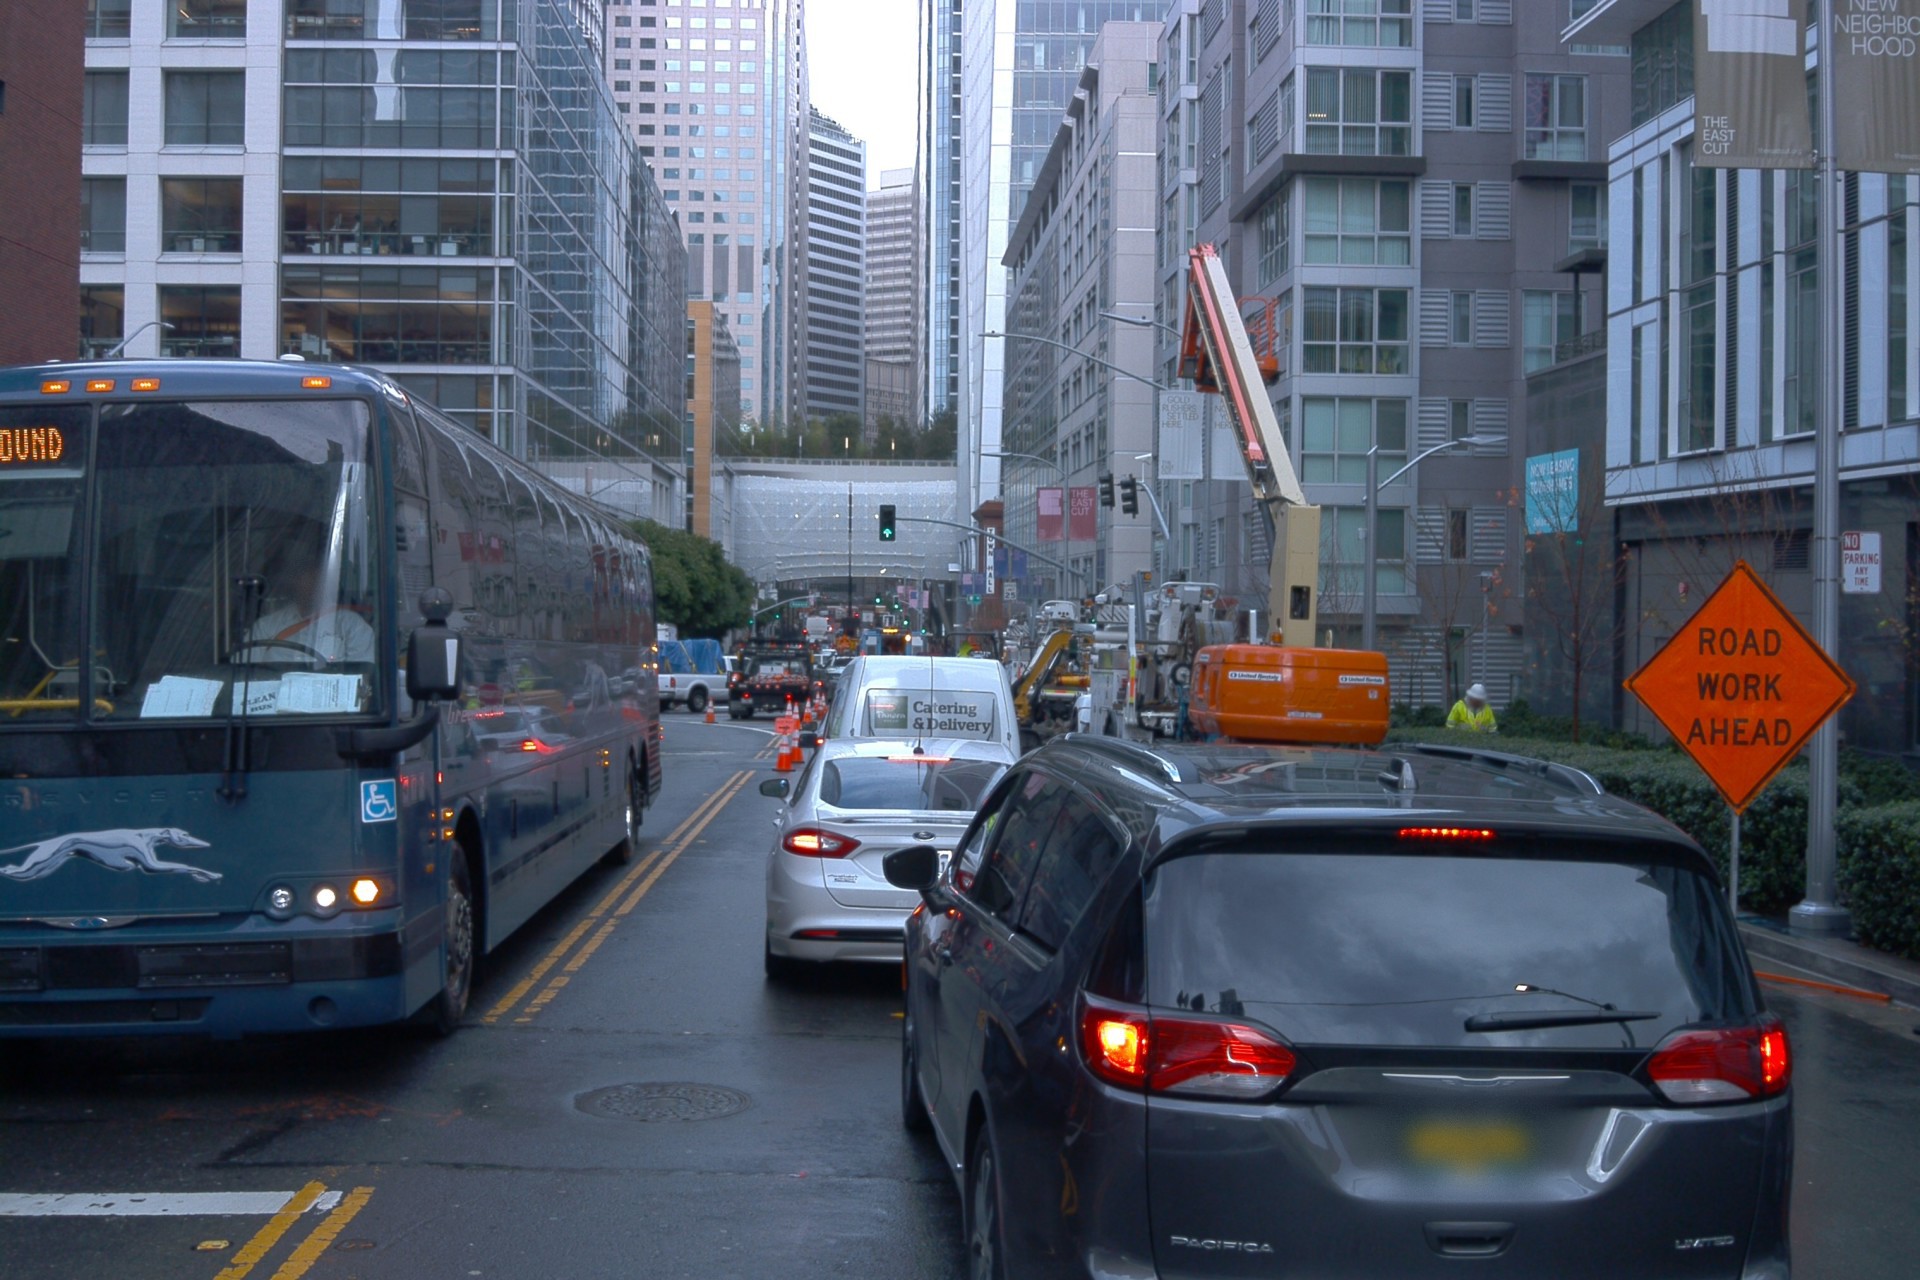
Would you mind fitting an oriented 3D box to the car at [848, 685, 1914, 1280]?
[{"bbox_3d":[0.803,1.110,6.811,2.058,1.750,4.787,1,1,-6],"label":"car"}]

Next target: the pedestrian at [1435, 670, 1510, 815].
[{"bbox_3d":[7.003,1.393,28.193,0.821,1.949,0.618,1,0,-4],"label":"pedestrian"}]

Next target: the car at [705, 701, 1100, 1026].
[{"bbox_3d":[-0.377,1.309,13.826,2.164,1.580,4.901,1,1,-1],"label":"car"}]

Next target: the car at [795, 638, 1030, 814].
[{"bbox_3d":[-0.540,0.747,19.507,1.860,1.470,3.431,1,1,-7],"label":"car"}]
